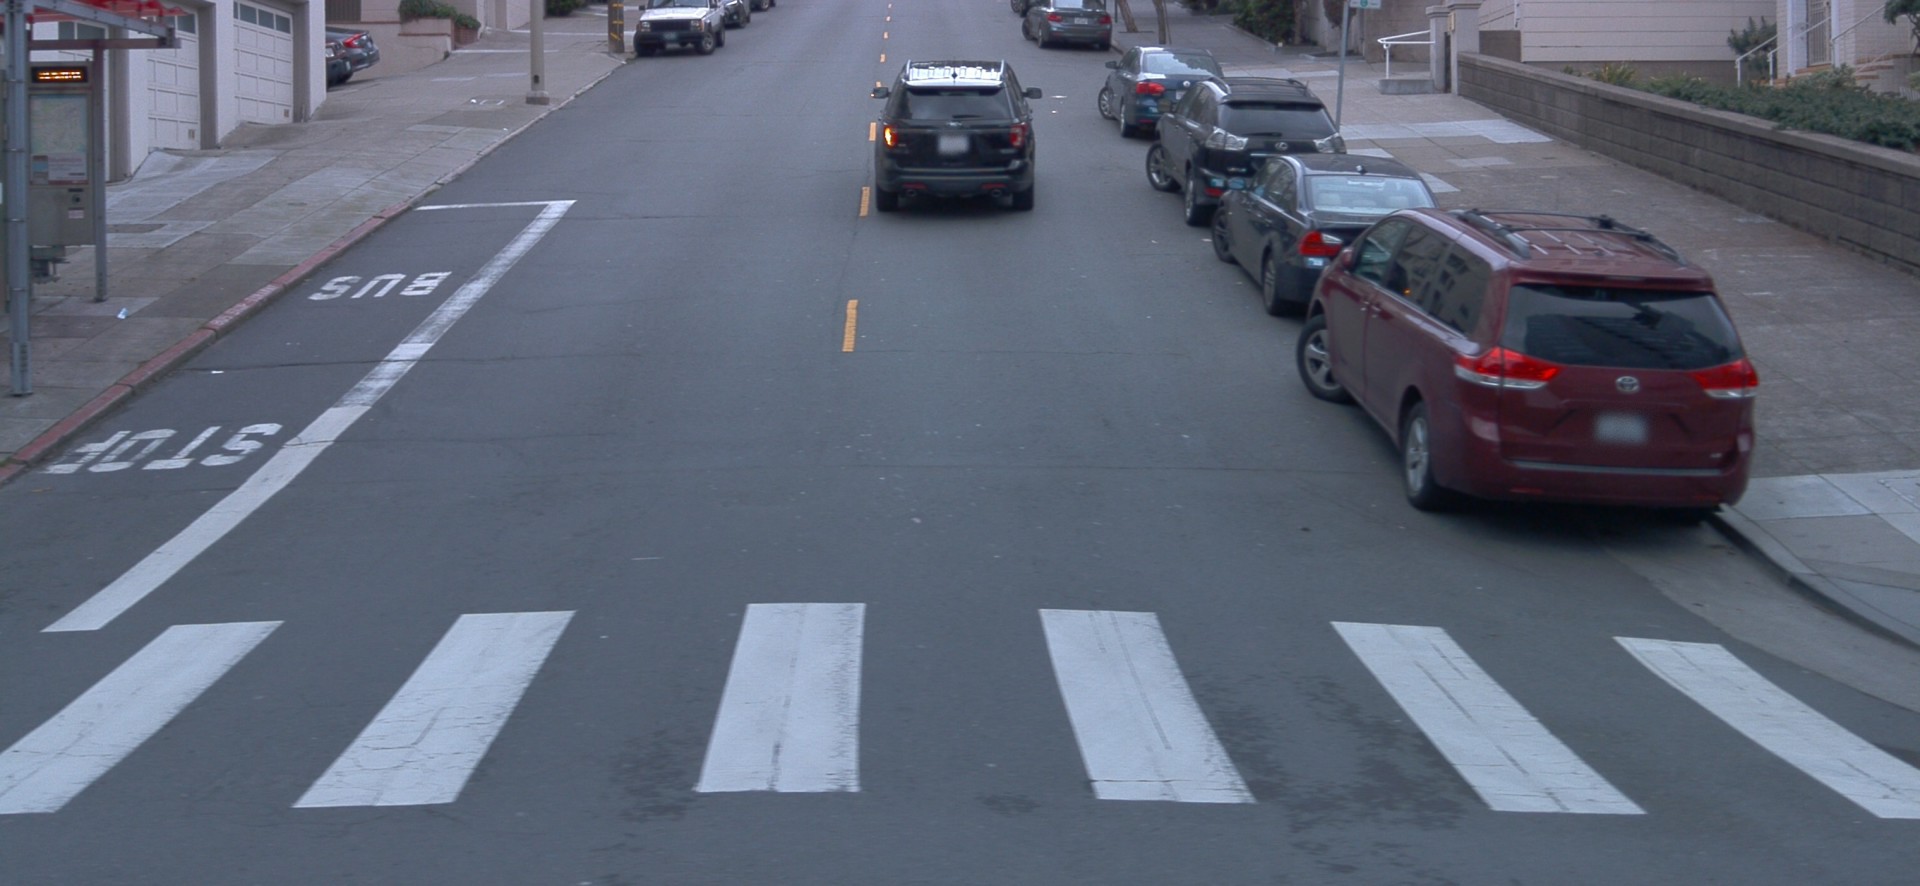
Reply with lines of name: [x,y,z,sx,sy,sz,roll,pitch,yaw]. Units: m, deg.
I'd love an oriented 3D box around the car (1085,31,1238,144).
car: [3.240,-5.798,34.018,2.029,1.620,4.505,0,6,-1]

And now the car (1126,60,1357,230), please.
car: [3.358,-3.638,25.531,2.175,1.899,4.442,0,6,-1]

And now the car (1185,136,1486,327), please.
car: [3.559,-2.140,20.471,2.041,1.670,4.425,0,6,-2]

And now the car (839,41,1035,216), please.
car: [-0.248,-3.973,26.549,2.303,2.018,4.631,0,6,1]

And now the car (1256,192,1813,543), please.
car: [3.671,-0.740,14.419,2.355,1.998,5.060,0,6,-1]
